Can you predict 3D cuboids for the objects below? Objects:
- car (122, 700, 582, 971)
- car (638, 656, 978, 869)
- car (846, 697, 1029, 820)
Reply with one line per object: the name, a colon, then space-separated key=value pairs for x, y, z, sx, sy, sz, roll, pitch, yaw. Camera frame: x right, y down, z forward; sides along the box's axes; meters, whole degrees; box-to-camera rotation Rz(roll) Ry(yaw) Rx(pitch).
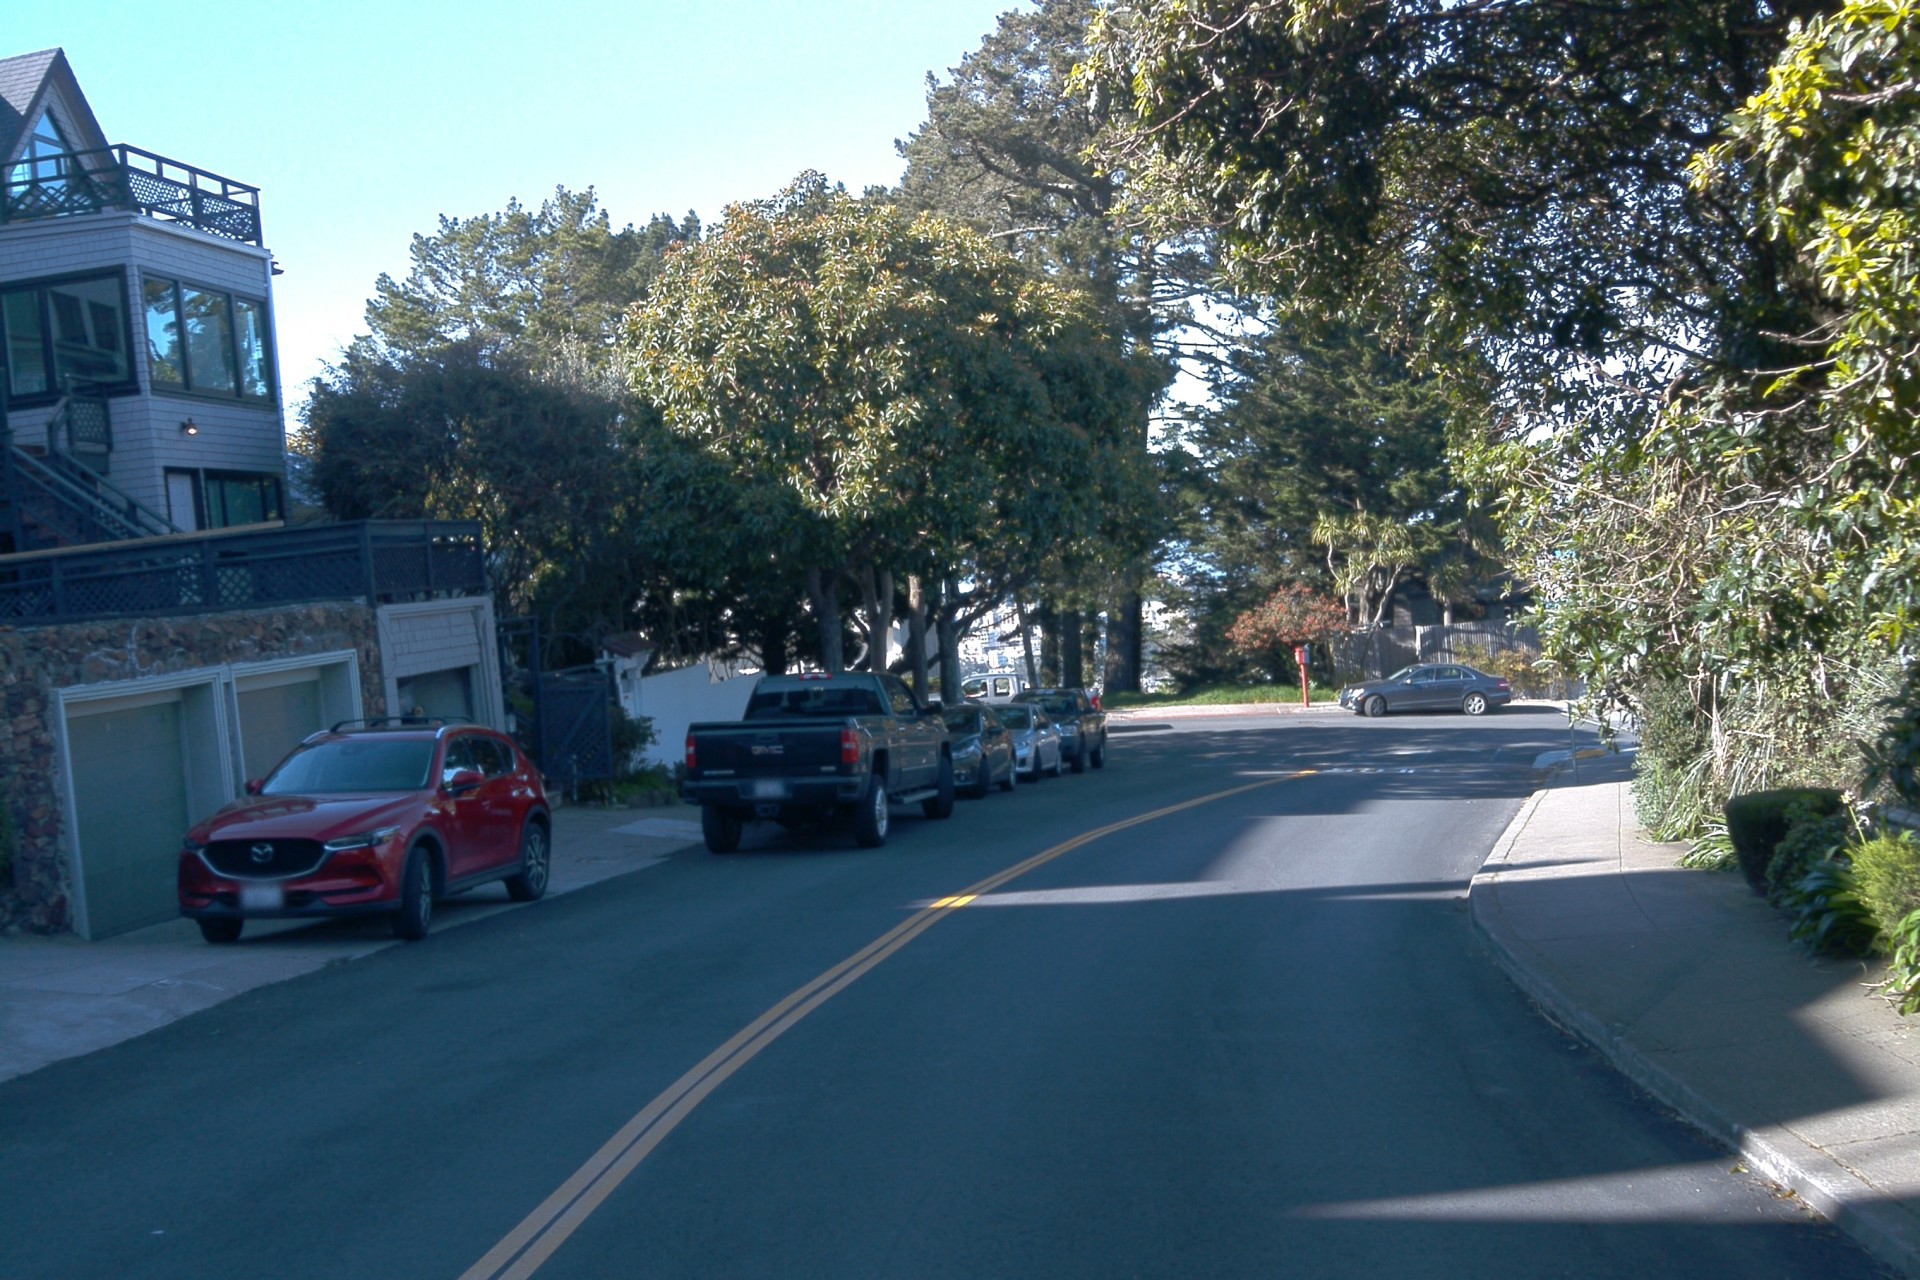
car: x=-4.904 y=1.494 z=17.520 sx=2.137 sy=1.860 sz=4.615 roll=0 pitch=0 yaw=6
car: x=-1.595 y=1.298 z=24.818 sx=2.650 sy=2.200 sz=6.099 roll=0 pitch=0 yaw=10
car: x=-0.259 y=1.783 z=32.347 sx=2.084 sy=1.680 sz=4.436 roll=0 pitch=0 yaw=10
